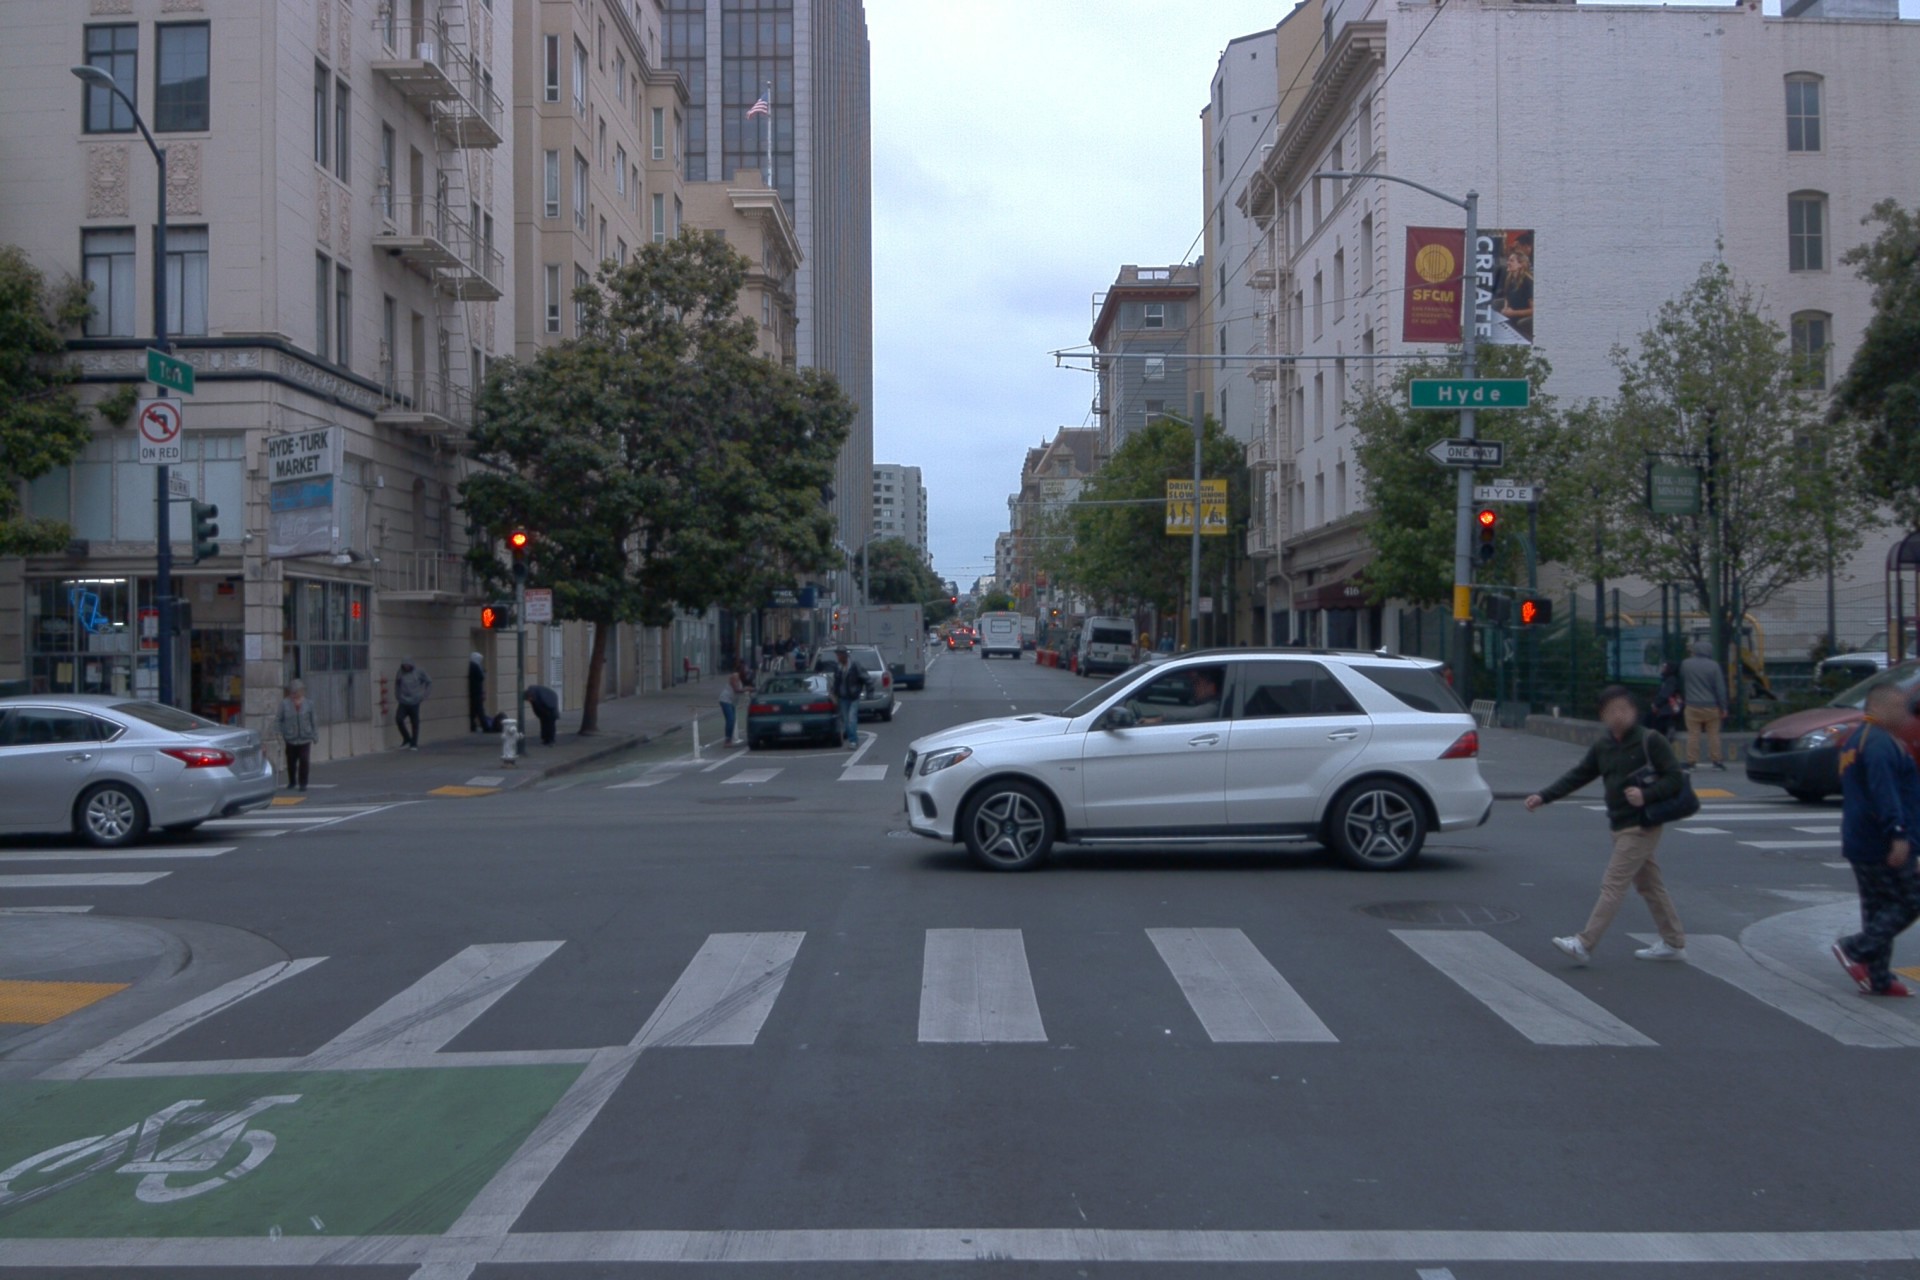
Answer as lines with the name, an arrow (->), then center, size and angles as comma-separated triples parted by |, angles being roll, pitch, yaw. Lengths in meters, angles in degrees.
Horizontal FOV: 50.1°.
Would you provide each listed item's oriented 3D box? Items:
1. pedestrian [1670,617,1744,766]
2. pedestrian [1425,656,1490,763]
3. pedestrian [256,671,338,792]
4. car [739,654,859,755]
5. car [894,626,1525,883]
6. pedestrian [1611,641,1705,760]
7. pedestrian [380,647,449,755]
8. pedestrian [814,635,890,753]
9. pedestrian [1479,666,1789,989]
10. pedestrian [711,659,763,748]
pedestrian -> 10.290, 0.695, 28.323 | 0.836, 2.010, 0.795 | 0, 1, 30
pedestrian -> 7.700, 1.065, 31.837 | 0.906, 1.620, 0.868 | 0, 1, 9
pedestrian -> -9.255, 1.266, 28.702 | 0.866, 1.620, 0.827 | -1, 1, -35
car -> -2.863, 1.124, 37.327 | 1.721, 1.630, 3.892 | 0, 1, 2
car -> 1.918, 0.874, 16.827 | 4.808, 1.930, 2.169 | 0, 1, 1
pedestrian -> 10.482, 0.889, 30.895 | 0.943, 1.720, 0.965 | -1, 1, -32
pedestrian -> -9.709, 1.070, 36.633 | 0.928, 1.870, 1.019 | 0, 1, 2
pedestrian -> -1.864, 0.923, 35.698 | 1.257, 1.990, 1.097 | 0, 1, 1
pedestrian -> 3.867, 1.035, 11.893 | 1.315, 1.720, 1.110 | 0, 1, -12
pedestrian -> -4.069, 1.142, 37.510 | 0.695, 1.580, 0.680 | -1, 1, -37
